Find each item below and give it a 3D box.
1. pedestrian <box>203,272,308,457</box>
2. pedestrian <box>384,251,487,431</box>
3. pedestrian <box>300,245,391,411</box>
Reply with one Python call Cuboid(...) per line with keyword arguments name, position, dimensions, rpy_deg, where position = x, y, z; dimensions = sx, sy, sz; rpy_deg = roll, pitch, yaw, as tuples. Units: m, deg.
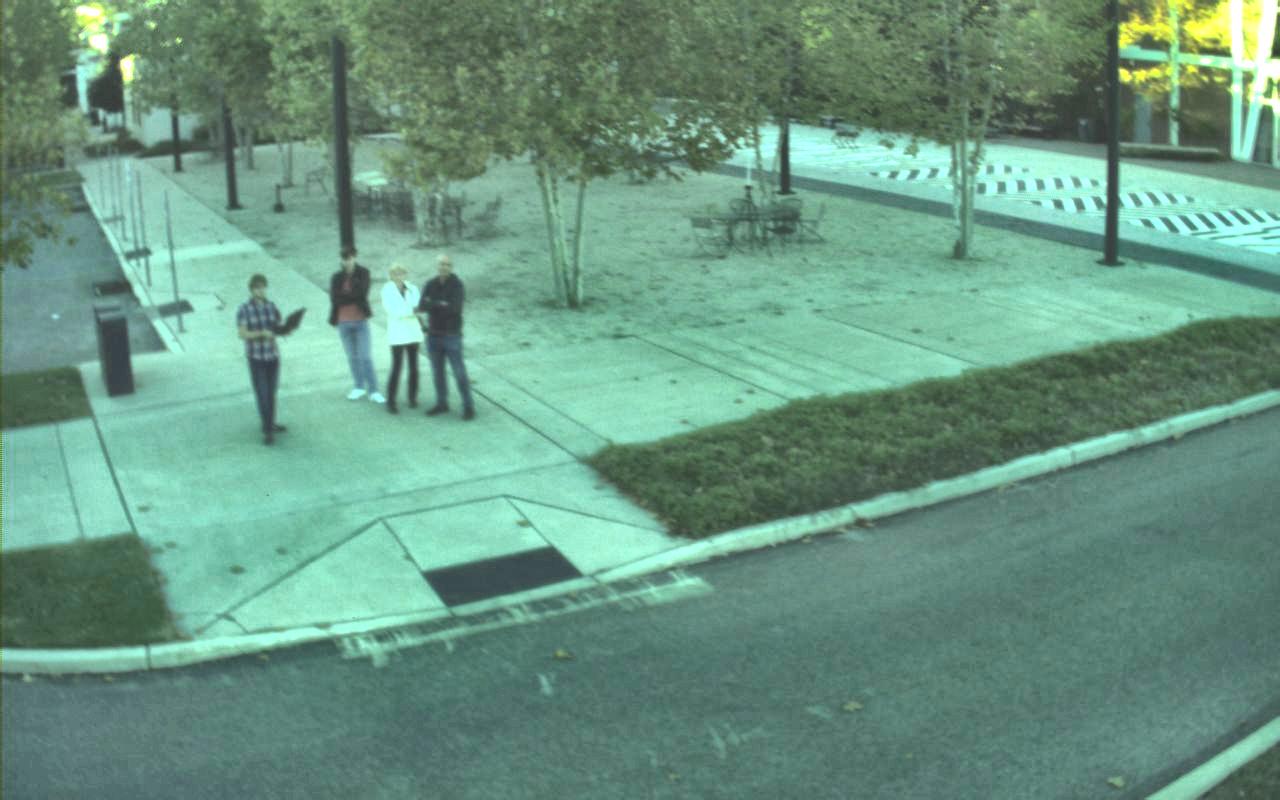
Cuboid(name="pedestrian", position=(-4.236, -0.392, 13.314), dimensions=(0.778, 1.809, 0.770), rpy_deg=(13, 21, 43))
Cuboid(name="pedestrian", position=(-2.274, -0.674, 13.955), dimensions=(0.776, 1.825, 0.785), rpy_deg=(5, 16, 22))
Cuboid(name="pedestrian", position=(-3.498, -0.857, 14.681), dimensions=(0.760, 1.833, 0.777), rpy_deg=(1, 15, 6))
